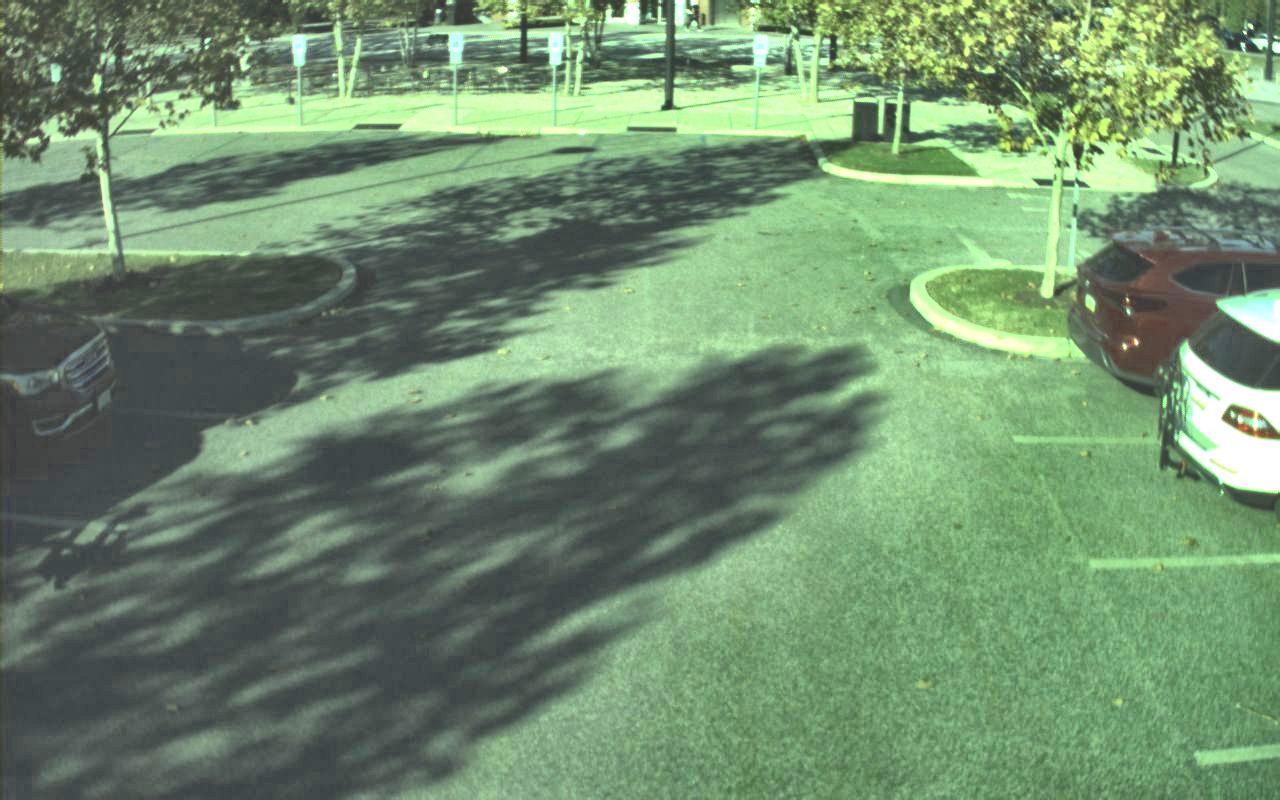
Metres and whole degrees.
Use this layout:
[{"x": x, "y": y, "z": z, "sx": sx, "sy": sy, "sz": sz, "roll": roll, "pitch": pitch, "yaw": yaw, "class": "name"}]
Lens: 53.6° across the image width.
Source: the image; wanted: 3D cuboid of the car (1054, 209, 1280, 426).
[{"x": 6.667, "y": -0.886, "z": 11.926, "sx": 4.429, "sy": 1.767, "sz": 1.980, "roll": 0, "pitch": 16, "yaw": 2, "class": "car"}]

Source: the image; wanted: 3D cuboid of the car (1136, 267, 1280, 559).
[{"x": 6.642, "y": 0.006, "z": 9.279, "sx": 4.524, "sy": 1.818, "sz": 2.010, "roll": -1, "pitch": 16, "yaw": -1, "class": "car"}]

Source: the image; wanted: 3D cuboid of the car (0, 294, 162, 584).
[{"x": -6.484, "y": 0.173, "z": 9.282, "sx": 4.544, "sy": 1.631, "sz": 1.998, "roll": 3, "pitch": 17, "yaw": 14, "class": "car"}]
